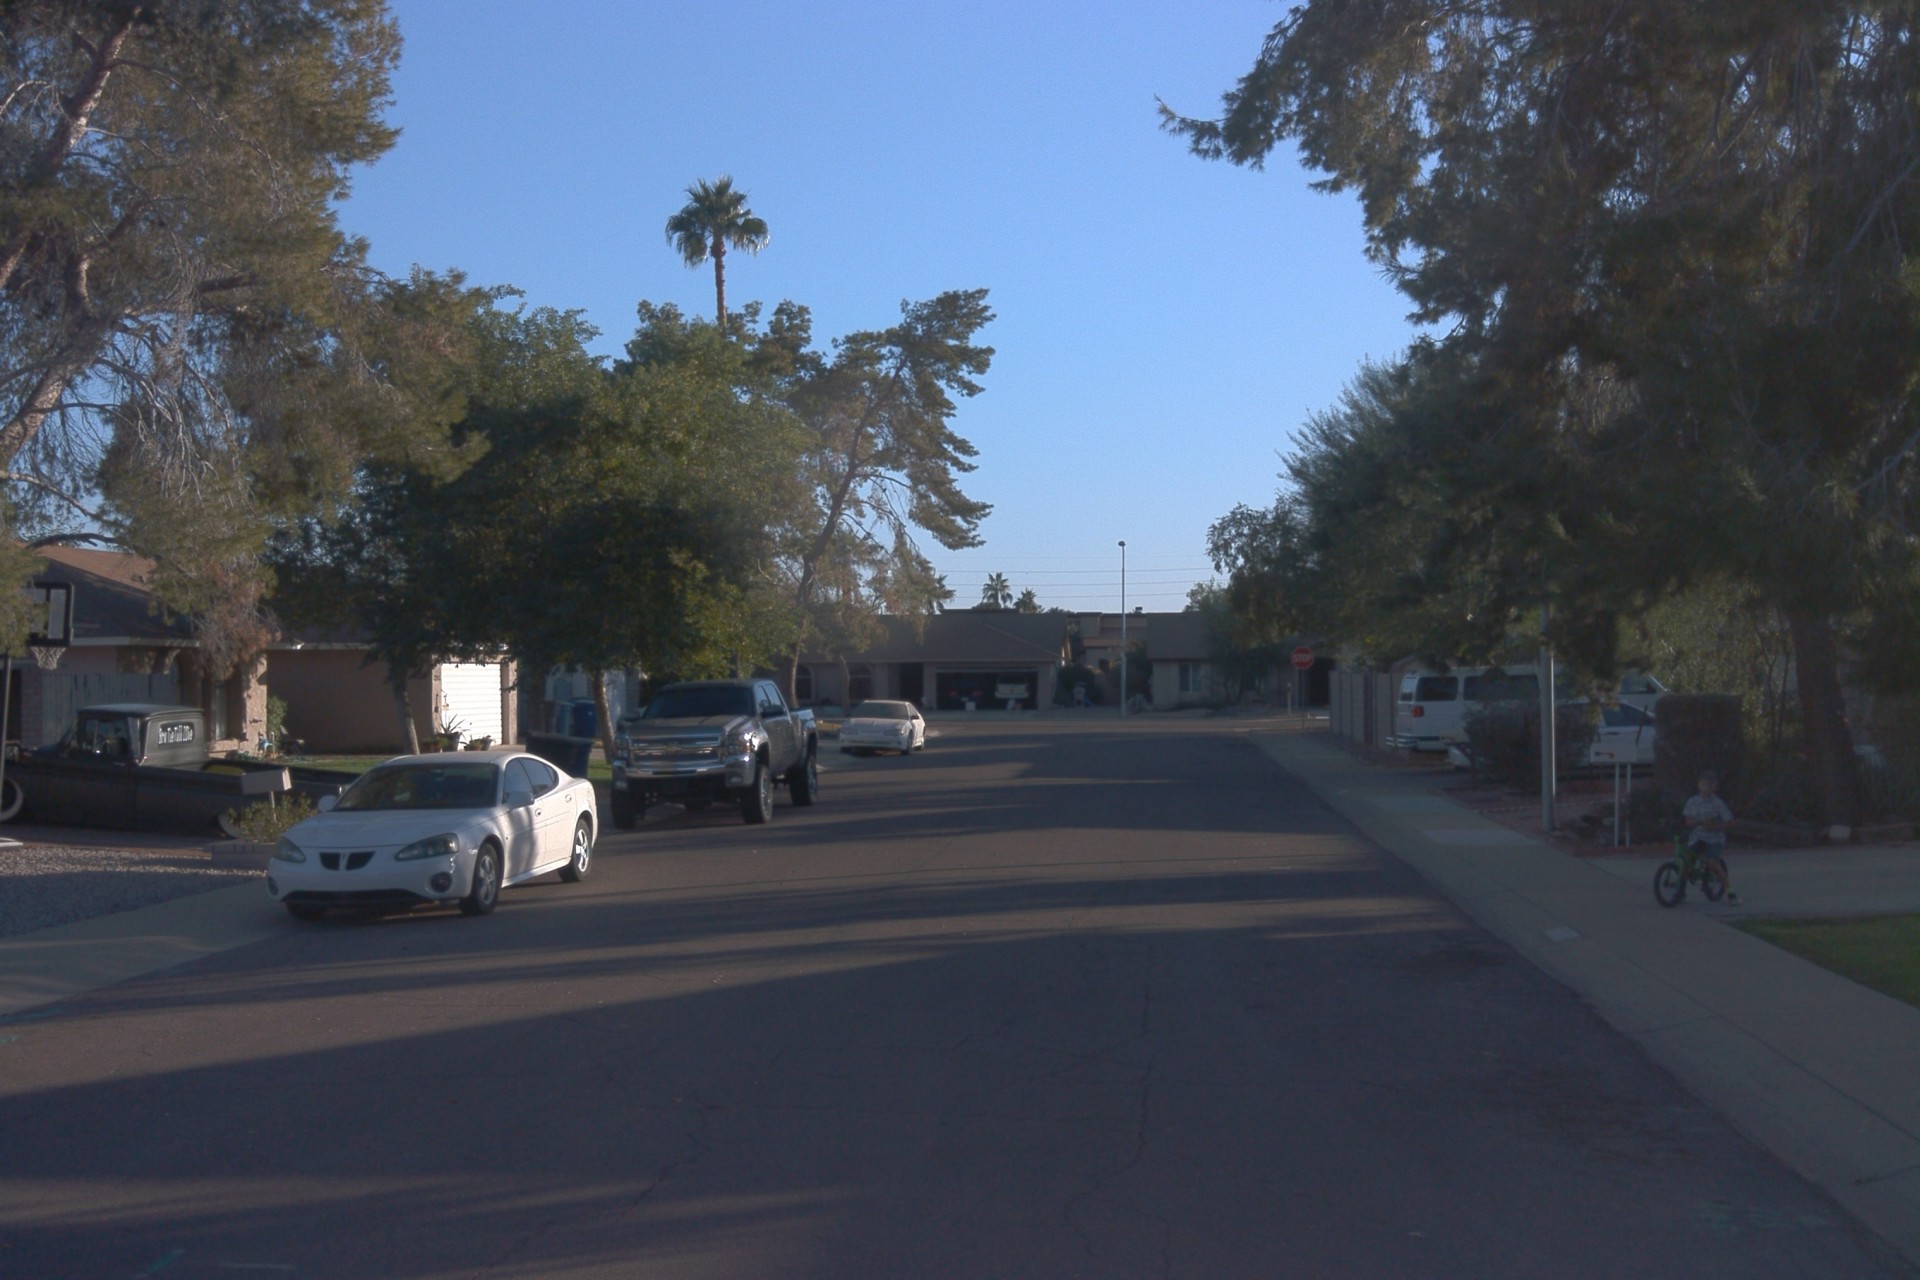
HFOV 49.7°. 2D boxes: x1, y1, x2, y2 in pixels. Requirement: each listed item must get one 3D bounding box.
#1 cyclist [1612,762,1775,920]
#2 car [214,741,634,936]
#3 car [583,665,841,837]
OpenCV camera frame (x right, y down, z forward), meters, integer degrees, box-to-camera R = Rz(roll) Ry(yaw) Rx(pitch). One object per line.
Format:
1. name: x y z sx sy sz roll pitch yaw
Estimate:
1. cyclist: 6.434 1.733 18.166 1.279 1.280 0.765 1 -1 -38
2. car: -4.972 1.806 20.162 2.201 1.460 5.065 1 -1 8
3. car: -3.598 1.584 31.619 2.529 2.330 6.158 1 -1 7
